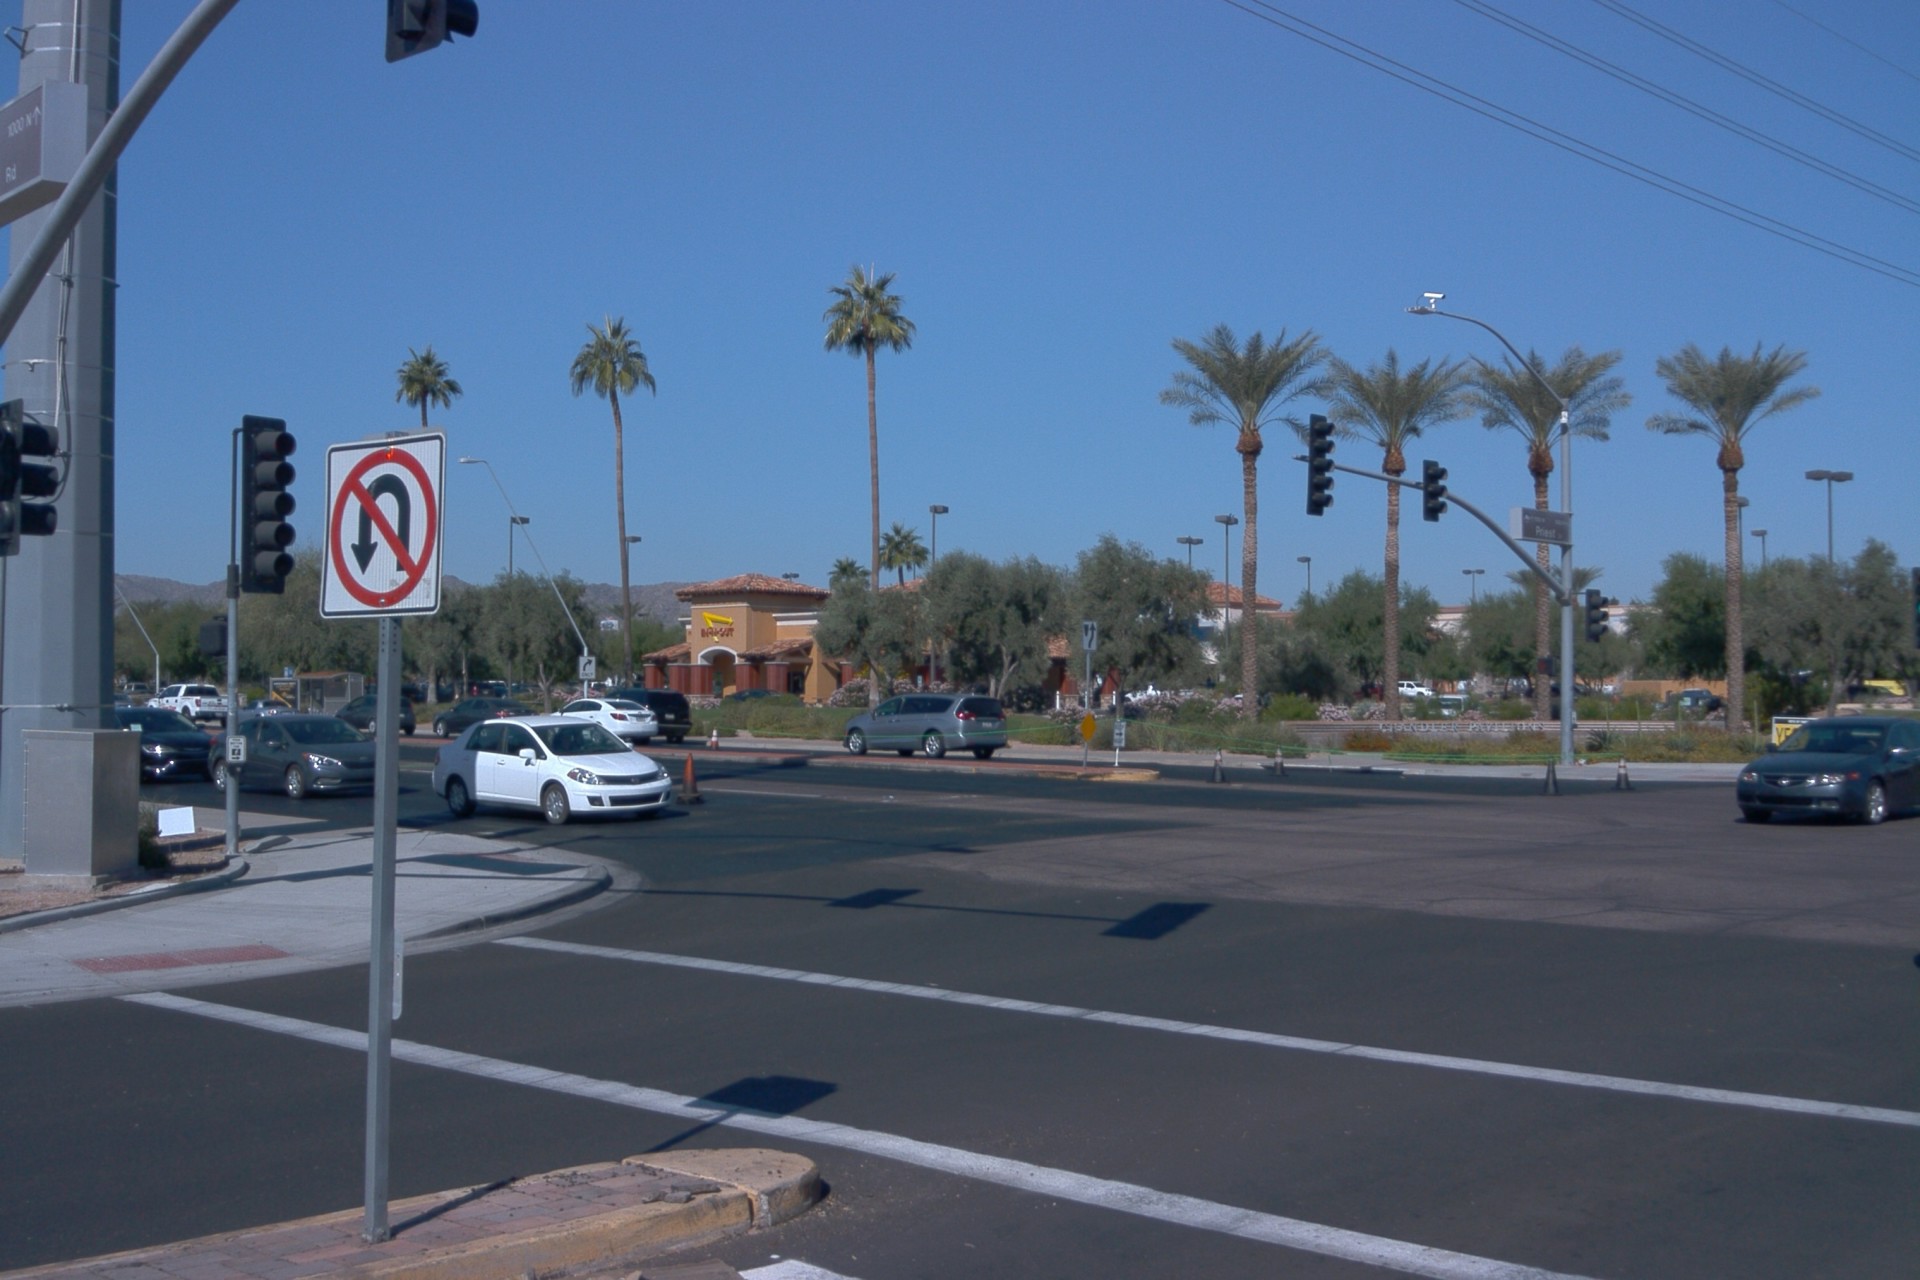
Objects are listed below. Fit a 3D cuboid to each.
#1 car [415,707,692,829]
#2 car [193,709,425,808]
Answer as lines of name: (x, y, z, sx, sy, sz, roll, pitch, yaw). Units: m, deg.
car: (-6.234, 1.881, 31.366, 4.450, 1.570, 1.979, 0, 0, 45)
car: (-11.806, 2.089, 37.316, 4.414, 1.520, 2.105, 0, 0, 44)
